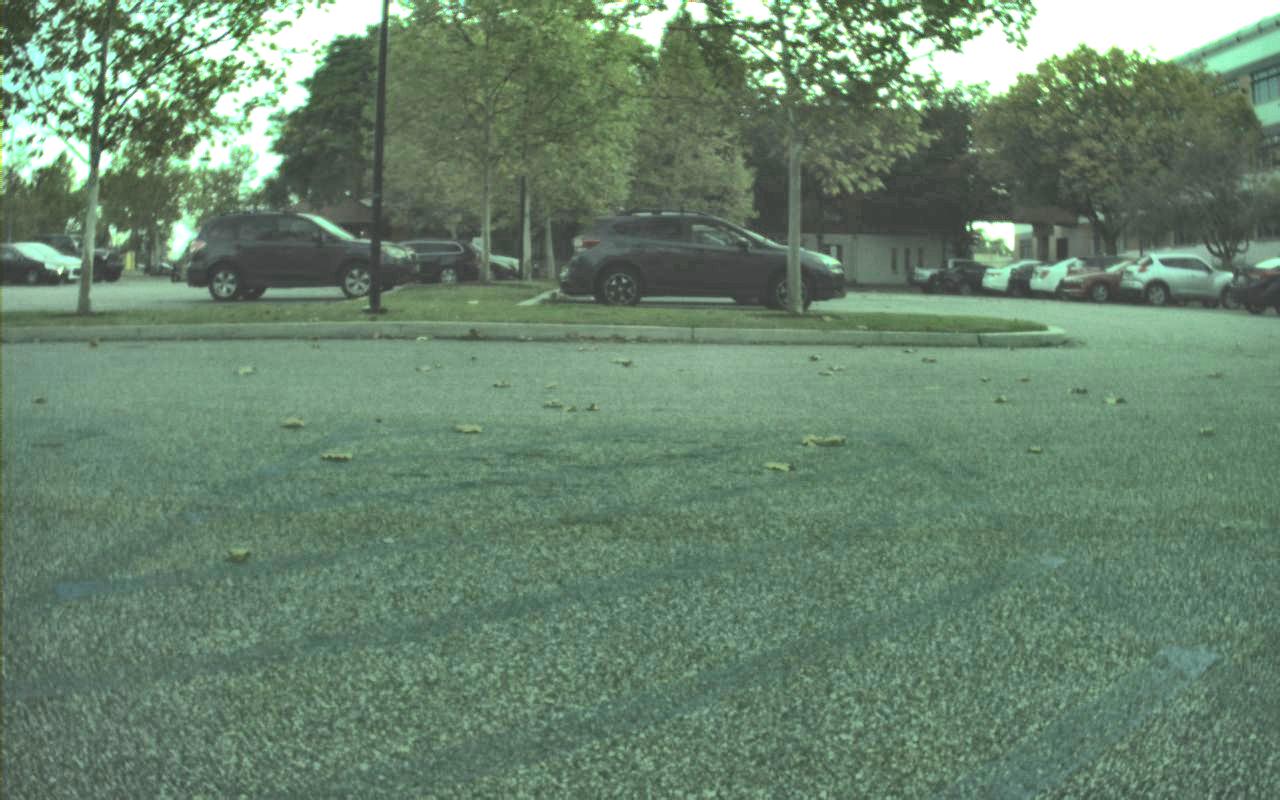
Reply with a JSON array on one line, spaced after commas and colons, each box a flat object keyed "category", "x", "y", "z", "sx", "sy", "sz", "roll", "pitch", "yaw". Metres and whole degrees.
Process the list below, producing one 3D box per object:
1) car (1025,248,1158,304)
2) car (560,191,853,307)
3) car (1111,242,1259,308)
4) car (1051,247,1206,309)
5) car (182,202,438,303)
[{"category": "car", "x": 15.690, "y": -4.224, "z": 41.610, "sx": 4.457, "sy": 1.687, "sz": 1.956, "roll": 1, "pitch": 1, "yaw": 3}, {"category": "car", "x": 1.012, "y": -2.392, "z": 20.293, "sx": 4.524, "sy": 1.642, "sz": 1.946, "roll": 0, "pitch": 1, "yaw": -3}, {"category": "car", "x": 15.740, "y": -3.499, "z": 33.580, "sx": 4.154, "sy": 1.647, "sz": 1.875, "roll": 0, "pitch": 1, "yaw": 2}, {"category": "car", "x": 14.990, "y": -3.656, "z": 36.350, "sx": 4.619, "sy": 1.637, "sz": 1.978, "roll": 0, "pitch": 1, "yaw": 0}, {"category": "car", "x": -6.270, "y": -2.738, "z": 23.203, "sx": 4.624, "sy": 1.706, "sz": 1.991, "roll": 0, "pitch": 1, "yaw": -1}]
